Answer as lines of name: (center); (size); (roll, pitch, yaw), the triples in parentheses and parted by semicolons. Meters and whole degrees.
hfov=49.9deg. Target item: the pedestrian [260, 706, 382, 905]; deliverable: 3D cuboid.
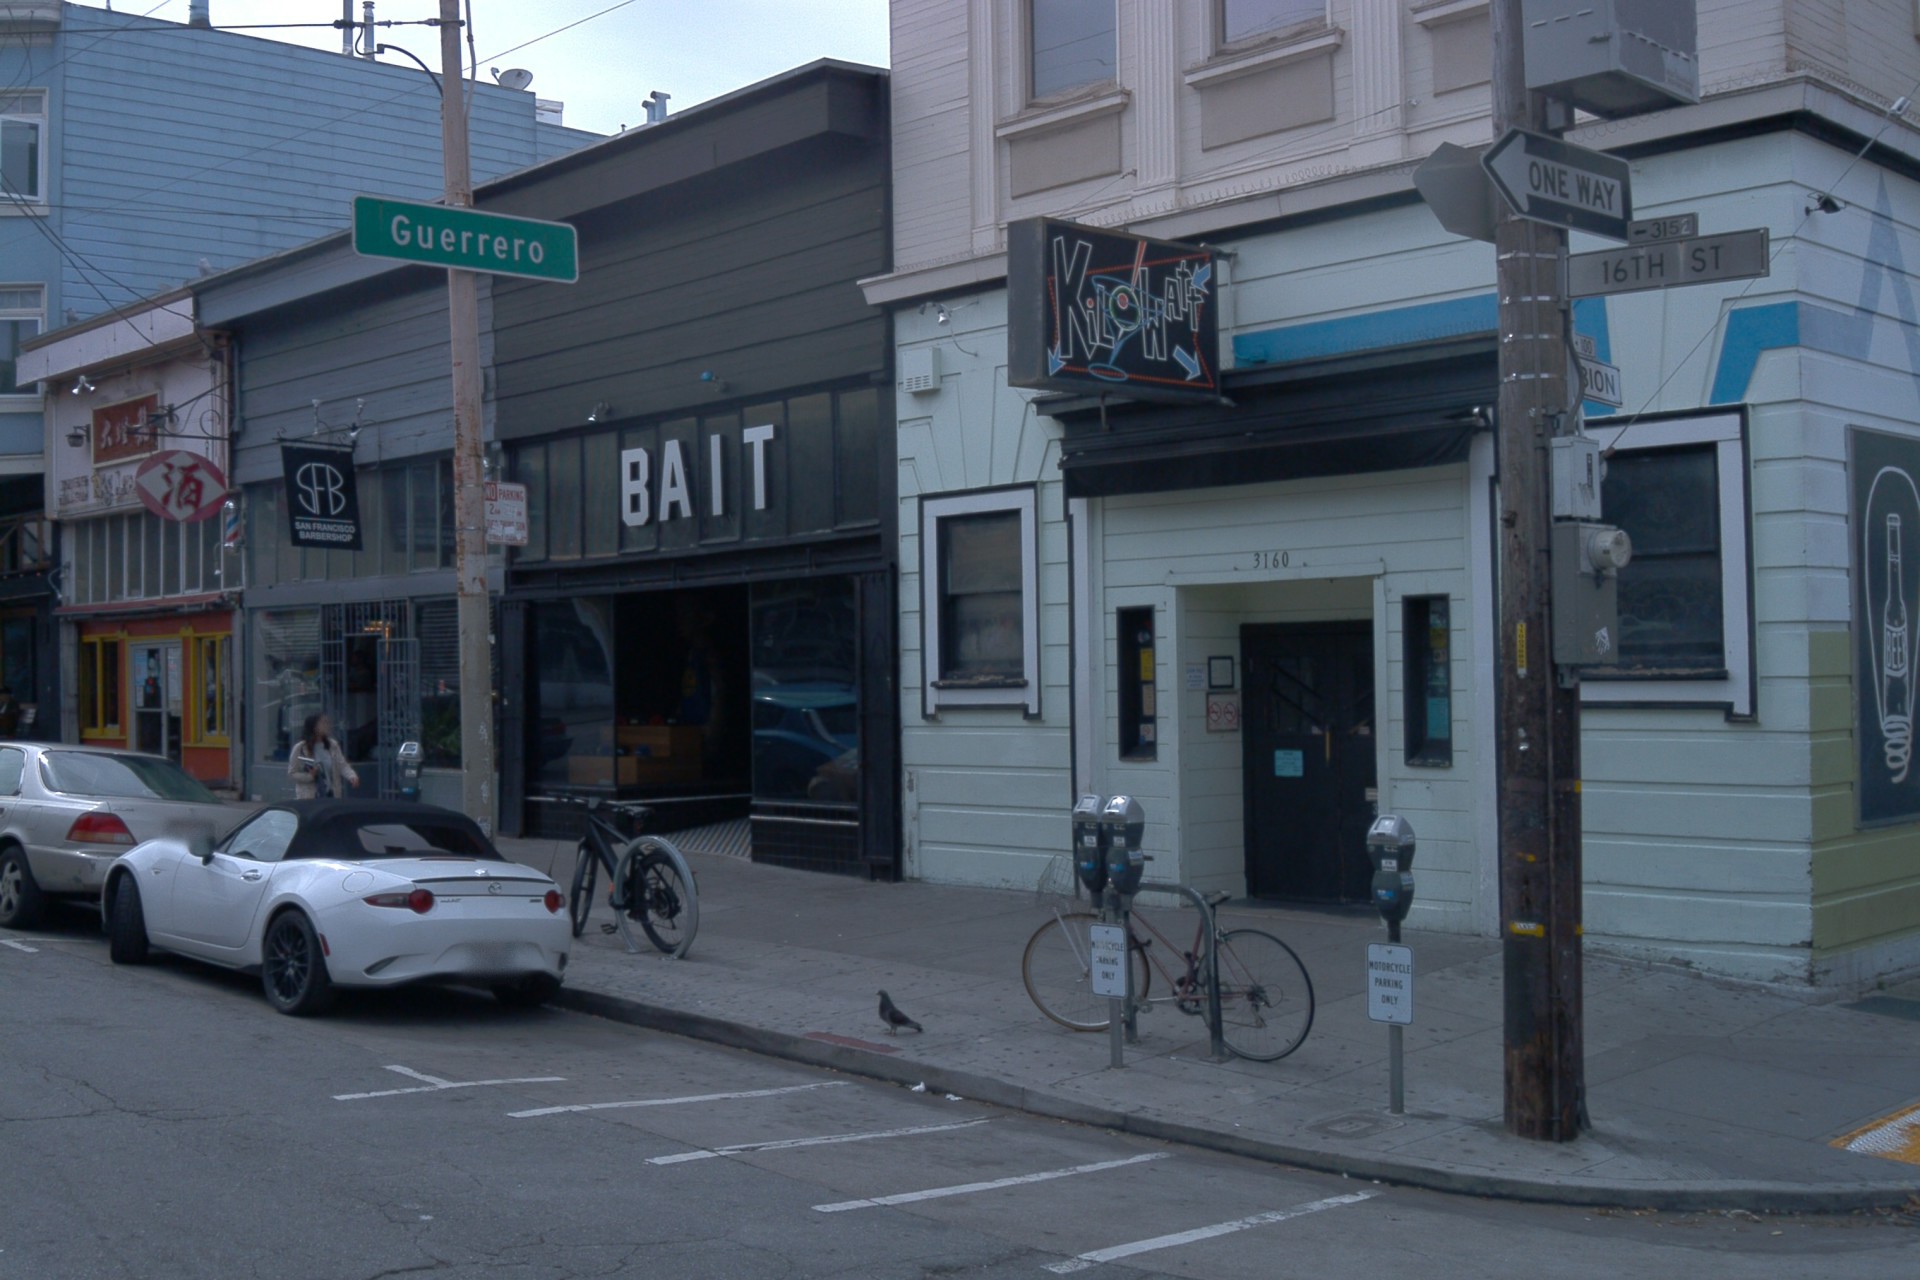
pedestrian: (-5.679, 1.443, 18.354); (0.827, 1.670, 0.716); (1, 1, 44)

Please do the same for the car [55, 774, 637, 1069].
car: (-4.064, 1.667, 13.342); (1.958, 1.300, 3.973); (-1, 1, -45)
